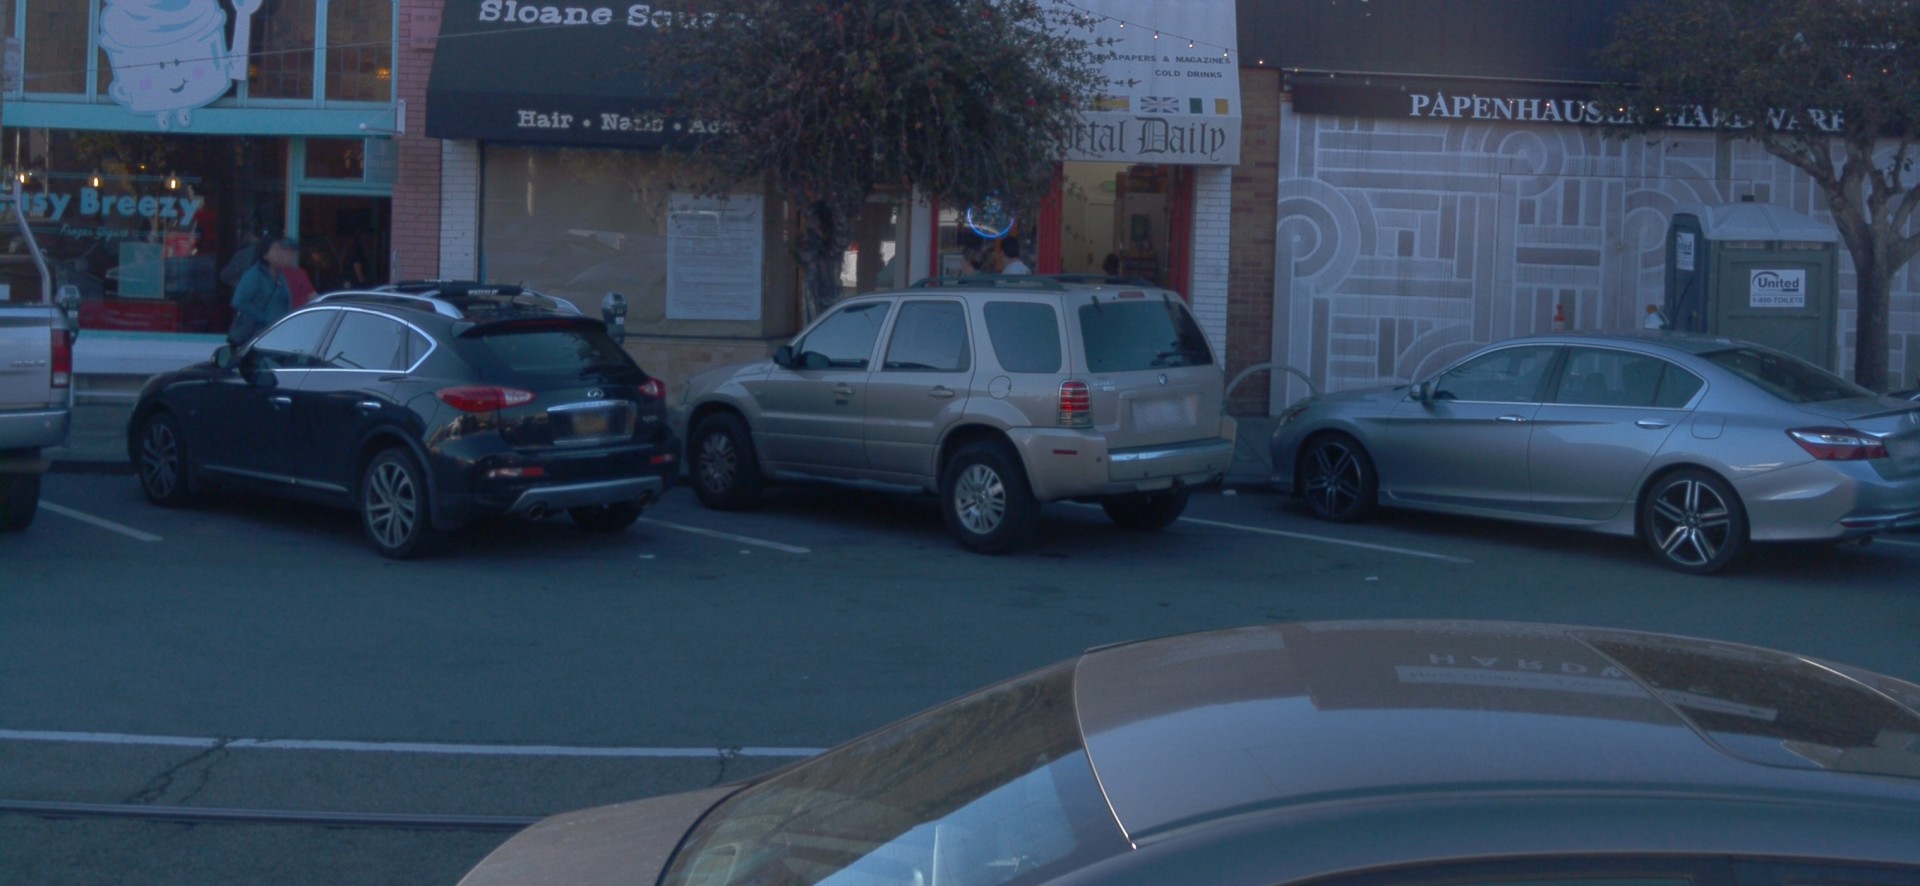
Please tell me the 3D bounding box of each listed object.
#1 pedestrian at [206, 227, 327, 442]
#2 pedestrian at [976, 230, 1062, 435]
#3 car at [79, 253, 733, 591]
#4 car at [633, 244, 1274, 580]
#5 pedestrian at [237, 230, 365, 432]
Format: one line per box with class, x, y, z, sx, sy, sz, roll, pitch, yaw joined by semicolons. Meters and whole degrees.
pedestrian;-5.872;-0.941;17.610;0.725;1.757;0.809;1;2;1
pedestrian;0.534;-1.032;19.056;0.731;1.816;0.922;1;2;-1
car;-3.881;-0.326;14.128;4.523;1.793;2.116;6;6;41
car;-0.161;-0.395;14.567;4.242;1.892;2.078;6;7;44
pedestrian;-5.833;-1.015;18.421;0.799;1.726;0.925;1;2;1
